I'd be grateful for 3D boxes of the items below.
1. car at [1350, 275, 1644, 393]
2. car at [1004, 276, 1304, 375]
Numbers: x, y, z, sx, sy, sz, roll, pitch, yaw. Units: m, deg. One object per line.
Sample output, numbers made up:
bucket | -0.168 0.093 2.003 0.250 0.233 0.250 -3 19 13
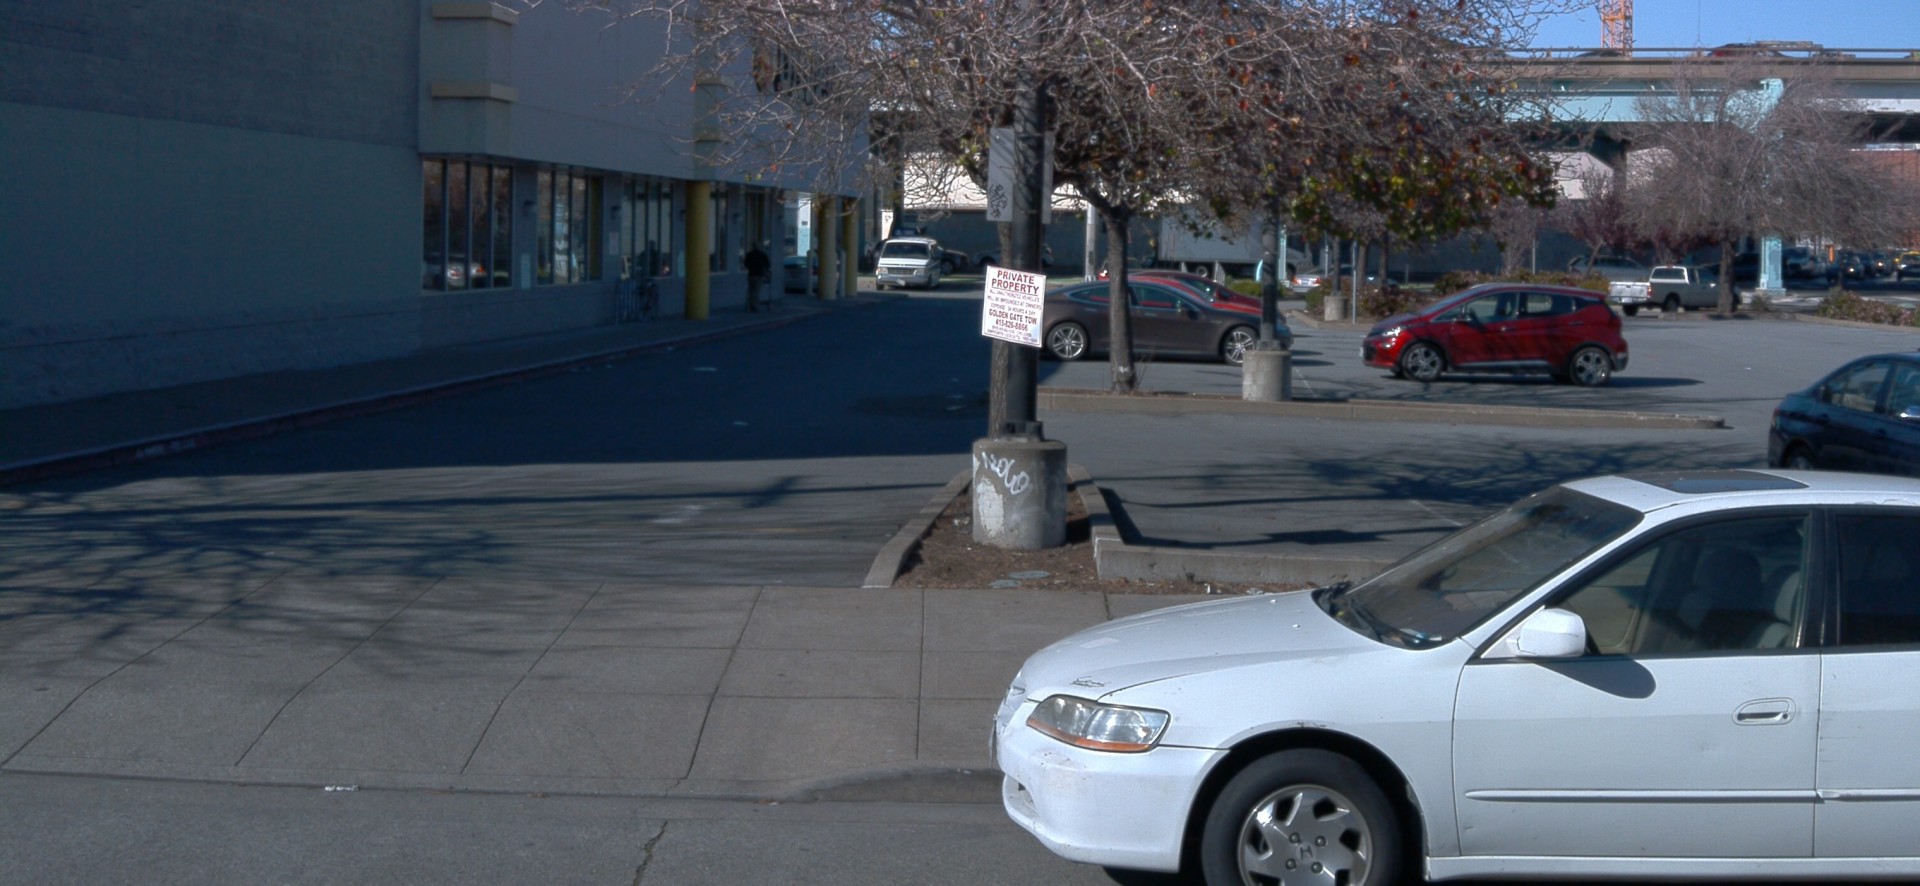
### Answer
car | 8.463 -1.767 32.718 4.156 1.695 2.038 1 4 2
car | 3.351 -2.072 35.853 5.044 1.525 1.995 1 4 5
